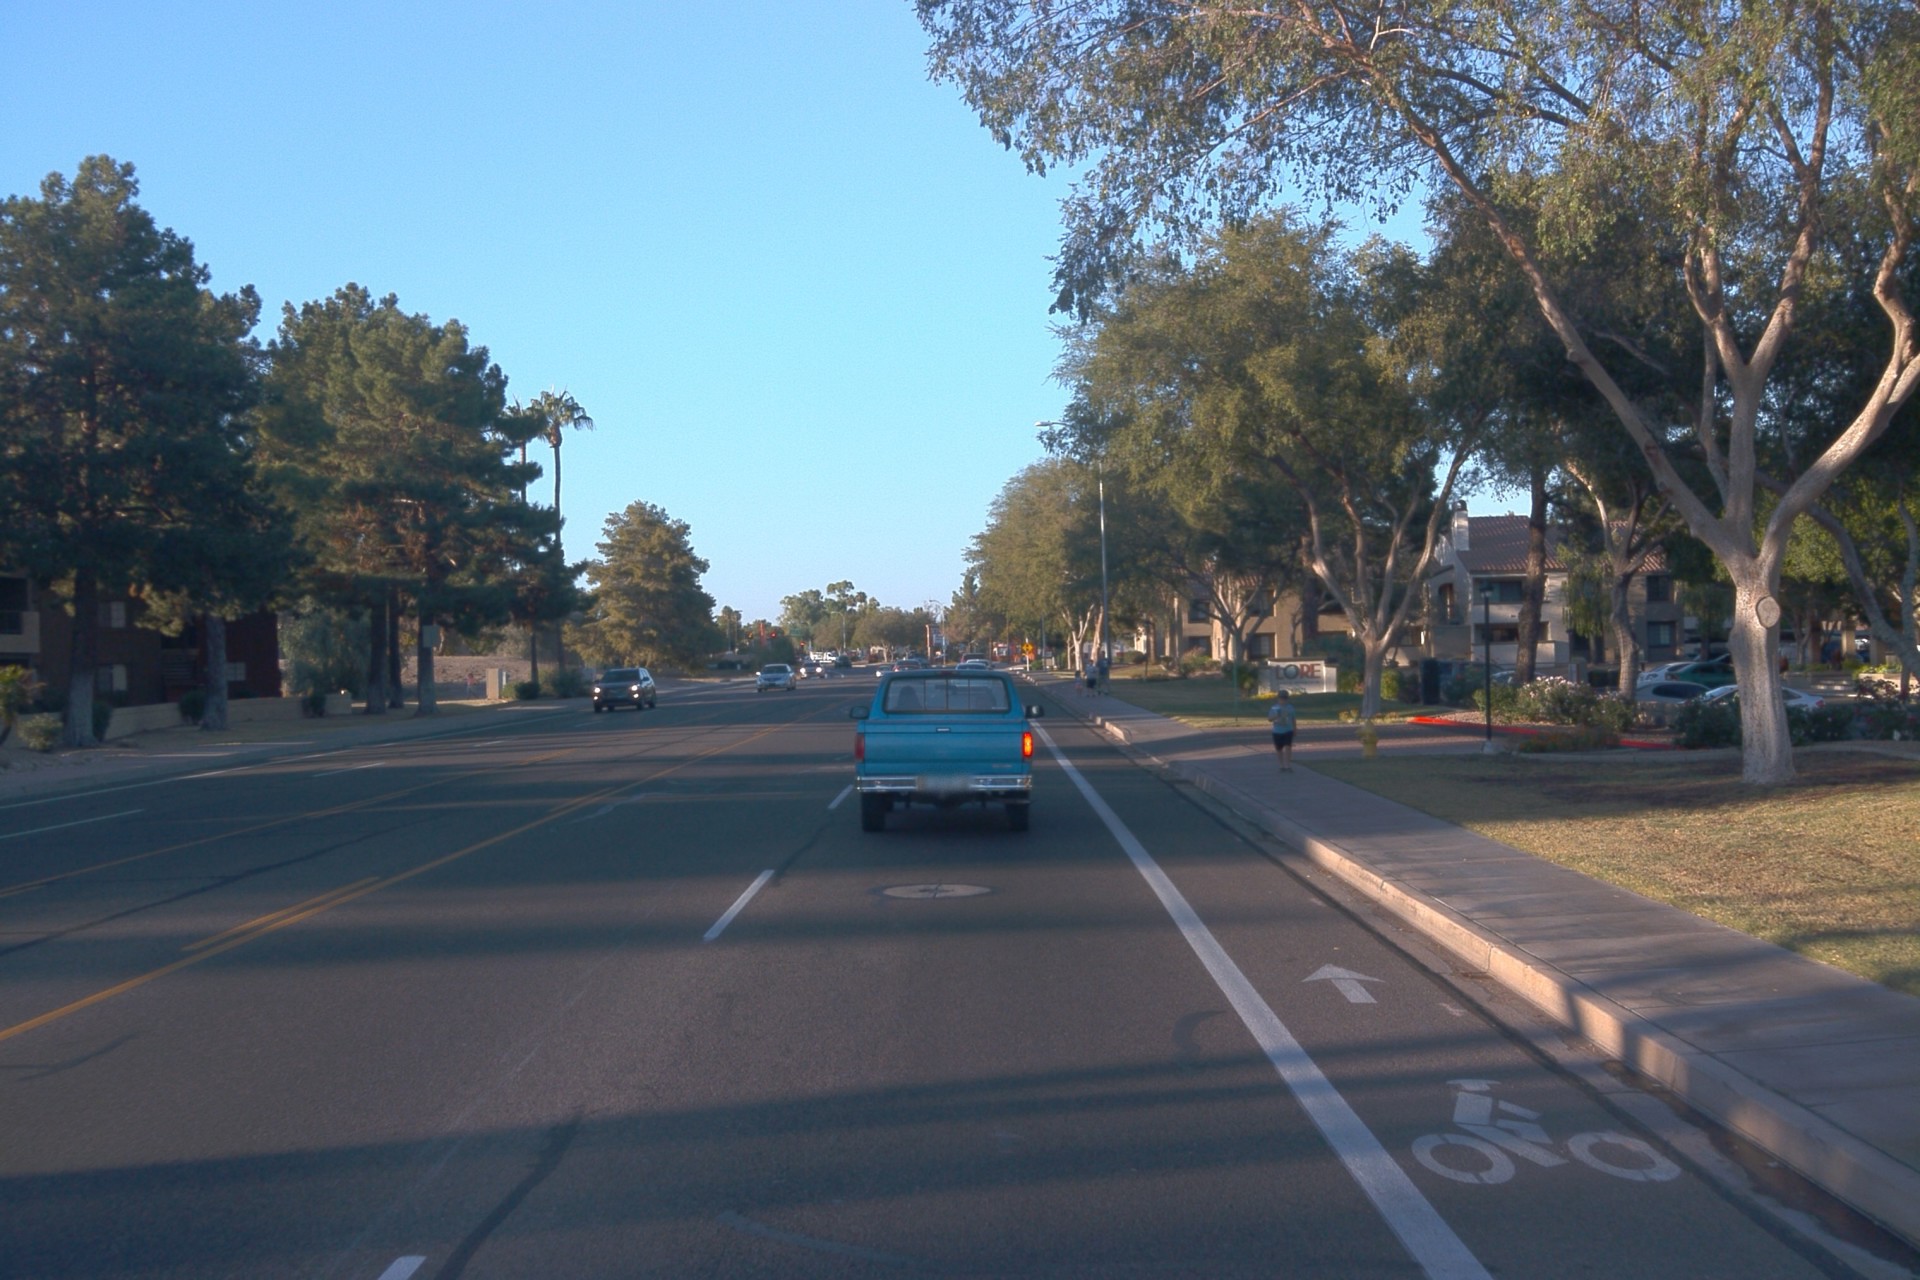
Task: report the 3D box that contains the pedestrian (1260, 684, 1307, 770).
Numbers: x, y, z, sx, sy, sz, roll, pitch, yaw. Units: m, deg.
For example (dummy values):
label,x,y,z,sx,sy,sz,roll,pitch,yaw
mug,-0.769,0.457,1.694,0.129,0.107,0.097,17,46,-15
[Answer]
label,x,y,z,sx,sy,sz,roll,pitch,yaw
pedestrian,4.815,1.287,30.821,0.616,1.250,0.743,0,0,3

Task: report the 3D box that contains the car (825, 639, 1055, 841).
label,x,y,z,sx,sy,sz,roll,pitch,yaw
car,-0.166,1.076,24.835,2.459,2.150,5.428,0,0,1
